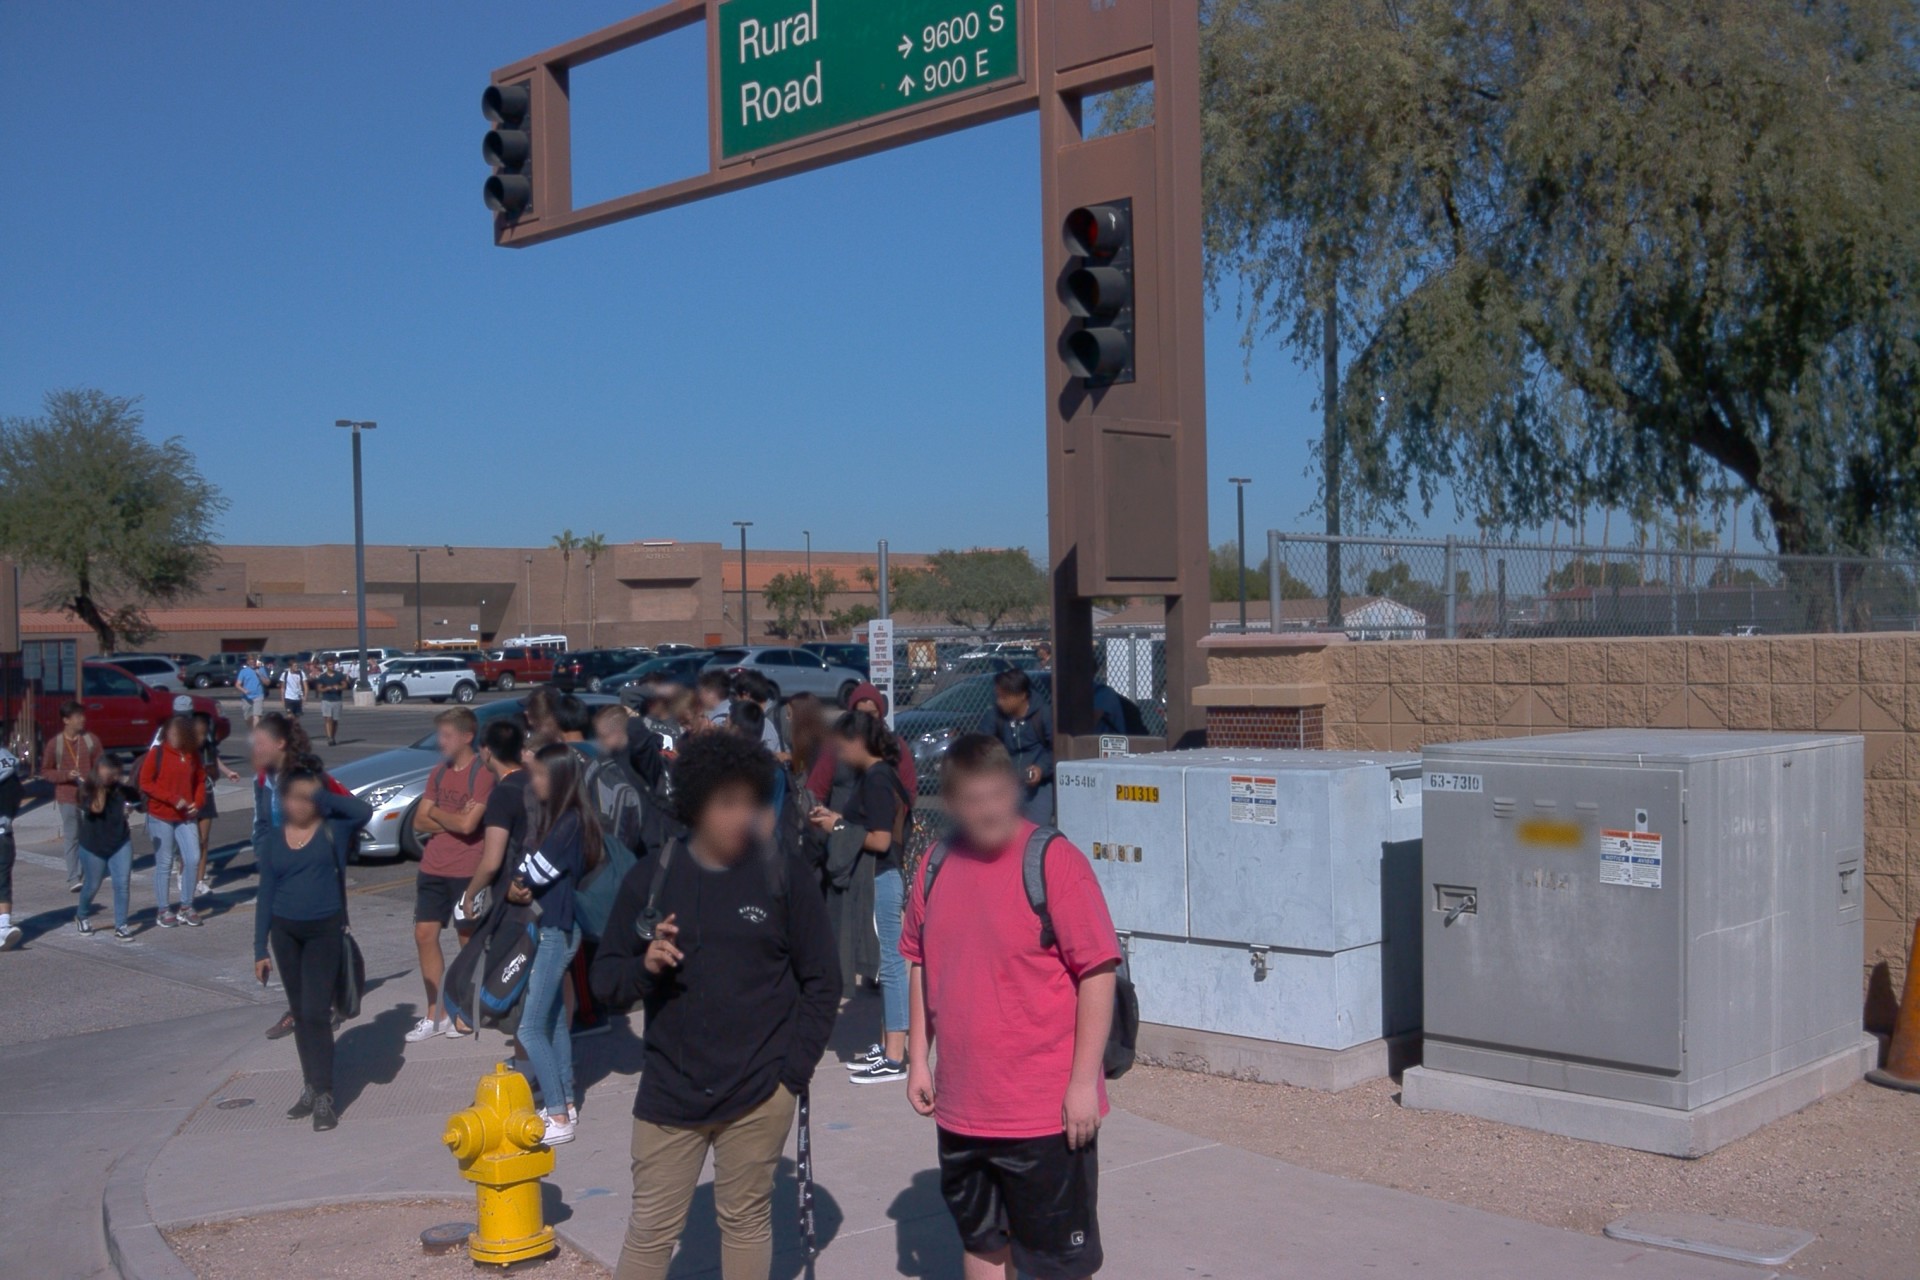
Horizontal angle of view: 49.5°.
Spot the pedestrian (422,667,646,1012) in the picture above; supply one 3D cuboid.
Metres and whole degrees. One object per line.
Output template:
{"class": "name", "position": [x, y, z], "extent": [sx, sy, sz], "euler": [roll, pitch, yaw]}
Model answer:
{"class": "pedestrian", "position": [-2.410, 1.083, 11.797], "extent": [0.863, 1.850, 0.883], "euler": [0, -1, 34]}

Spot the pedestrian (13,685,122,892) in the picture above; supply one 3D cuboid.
{"class": "pedestrian", "position": [-8.036, 1.304, 18.718], "extent": [0.717, 1.790, 1.086], "euler": [1, -1, -33]}

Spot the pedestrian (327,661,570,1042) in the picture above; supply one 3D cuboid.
{"class": "pedestrian", "position": [-2.694, 1.063, 10.991], "extent": [0.863, 1.900, 0.883], "euler": [0, -1, 34]}

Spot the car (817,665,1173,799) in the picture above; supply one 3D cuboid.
{"class": "car", "position": [0.503, 1.088, 25.912], "extent": [4.226, 1.520, 2.072], "euler": [1, -1, -45]}

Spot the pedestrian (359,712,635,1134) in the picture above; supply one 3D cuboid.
{"class": "pedestrian", "position": [-2.083, 1.209, 9.365], "extent": [0.856, 1.750, 0.891], "euler": [1, -1, -45]}

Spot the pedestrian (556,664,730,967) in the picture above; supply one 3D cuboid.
{"class": "pedestrian", "position": [-1.991, 1.070, 13.126], "extent": [0.733, 1.830, 0.815], "euler": [0, -1, 29]}

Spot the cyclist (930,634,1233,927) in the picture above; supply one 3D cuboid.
{"class": "cyclist", "position": [0.856, 0.914, 14.214], "extent": [2.067, 1.870, 0.783], "euler": [1, -1, -39]}

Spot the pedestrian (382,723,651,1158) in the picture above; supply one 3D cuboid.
{"class": "pedestrian", "position": [-1.854, 1.191, 8.654], "extent": [1.028, 1.670, 0.877], "euler": [0, -1, -14]}

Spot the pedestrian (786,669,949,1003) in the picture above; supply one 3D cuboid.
{"class": "pedestrian", "position": [-0.522, 1.051, 11.554], "extent": [0.860, 1.770, 0.975], "euler": [0, -1, -3]}

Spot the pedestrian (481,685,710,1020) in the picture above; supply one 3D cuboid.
{"class": "pedestrian", "position": [-1.994, 1.117, 11.413], "extent": [0.863, 1.730, 0.883], "euler": [0, -1, 42]}

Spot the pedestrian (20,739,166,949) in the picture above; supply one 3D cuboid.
{"class": "pedestrian", "position": [-6.495, 1.499, 15.587], "extent": [0.755, 1.480, 0.856], "euler": [1, -1, -42]}

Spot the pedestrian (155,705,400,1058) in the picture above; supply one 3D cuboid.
{"class": "pedestrian", "position": [-3.615, 1.227, 11.044], "extent": [0.863, 1.750, 0.883], "euler": [0, -1, 34]}

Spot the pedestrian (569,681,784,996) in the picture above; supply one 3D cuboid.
{"class": "pedestrian", "position": [-1.649, 1.108, 12.110], "extent": [0.863, 1.730, 0.883], "euler": [0, -1, 42]}

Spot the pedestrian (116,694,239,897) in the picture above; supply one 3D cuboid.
{"class": "pedestrian", "position": [-6.743, 1.313, 17.922], "extent": [0.671, 1.680, 0.926], "euler": [1, -1, -43]}

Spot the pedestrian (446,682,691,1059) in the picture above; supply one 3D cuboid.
{"class": "pedestrian", "position": [-2.011, 1.128, 10.694], "extent": [0.863, 1.820, 0.883], "euler": [0, -1, 42]}

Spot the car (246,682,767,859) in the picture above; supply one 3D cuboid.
{"class": "car", "position": [-4.390, 1.191, 20.612], "extent": [4.622, 1.540, 2.080], "euler": [1, -1, -43]}

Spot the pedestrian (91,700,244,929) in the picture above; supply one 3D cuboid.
{"class": "pedestrian", "position": [-6.156, 1.323, 16.168], "extent": [0.845, 1.700, 0.845], "euler": [1, -1, -42]}

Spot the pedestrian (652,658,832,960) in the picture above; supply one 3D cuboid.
{"class": "pedestrian", "position": [-1.378, 1.033, 13.194], "extent": [0.809, 1.830, 0.810], "euler": [0, -1, 29]}

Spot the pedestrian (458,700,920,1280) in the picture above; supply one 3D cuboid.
{"class": "pedestrian", "position": [-0.714, 1.113, 5.515], "extent": [0.891, 1.890, 0.817], "euler": [0, -1, 41]}

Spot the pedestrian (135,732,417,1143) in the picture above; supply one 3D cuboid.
{"class": "pedestrian", "position": [-3.086, 1.282, 9.396], "extent": [0.863, 1.700, 0.883], "euler": [0, -1, 42]}

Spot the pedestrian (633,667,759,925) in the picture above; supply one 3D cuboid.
{"class": "pedestrian", "position": [-1.855, 1.064, 14.573], "extent": [0.771, 1.750, 0.755], "euler": [0, -1, -15]}

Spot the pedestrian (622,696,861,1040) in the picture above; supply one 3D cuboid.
{"class": "pedestrian", "position": [-1.138, 1.138, 10.873], "extent": [0.863, 1.680, 0.883], "euler": [0, -1, 42]}

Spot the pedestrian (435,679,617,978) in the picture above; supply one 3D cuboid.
{"class": "pedestrian", "position": [-2.660, 1.119, 12.789], "extent": [0.733, 1.750, 0.815], "euler": [0, -1, 29]}

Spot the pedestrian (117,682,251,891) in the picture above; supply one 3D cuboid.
{"class": "pedestrian", "position": [-7.150, 1.315, 19.165], "extent": [1.003, 1.850, 0.919], "euler": [1, -1, -30]}

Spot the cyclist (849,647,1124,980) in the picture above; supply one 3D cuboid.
{"class": "cyclist", "position": [0.187, 1.009, 12.784], "extent": [1.710, 1.910, 0.668], "euler": [1, -1, -44]}

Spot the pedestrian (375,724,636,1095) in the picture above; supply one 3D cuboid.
{"class": "pedestrian", "position": [-2.188, 1.245, 10.039], "extent": [0.863, 1.650, 0.883], "euler": [0, -1, 42]}

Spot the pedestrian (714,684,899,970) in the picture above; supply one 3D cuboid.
{"class": "pedestrian", "position": [-0.927, 1.101, 12.674], "extent": [0.809, 1.660, 0.810], "euler": [0, -1, 29]}

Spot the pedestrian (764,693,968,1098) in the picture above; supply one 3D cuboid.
{"class": "pedestrian", "position": [-0.398, 1.099, 9.301], "extent": [0.855, 1.710, 0.845], "euler": [0, -1, 1]}

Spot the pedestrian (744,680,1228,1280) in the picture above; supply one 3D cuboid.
{"class": "pedestrian", "position": [0.055, 1.059, 5.316], "extent": [0.875, 1.910, 0.880], "euler": [1, -1, -35]}
